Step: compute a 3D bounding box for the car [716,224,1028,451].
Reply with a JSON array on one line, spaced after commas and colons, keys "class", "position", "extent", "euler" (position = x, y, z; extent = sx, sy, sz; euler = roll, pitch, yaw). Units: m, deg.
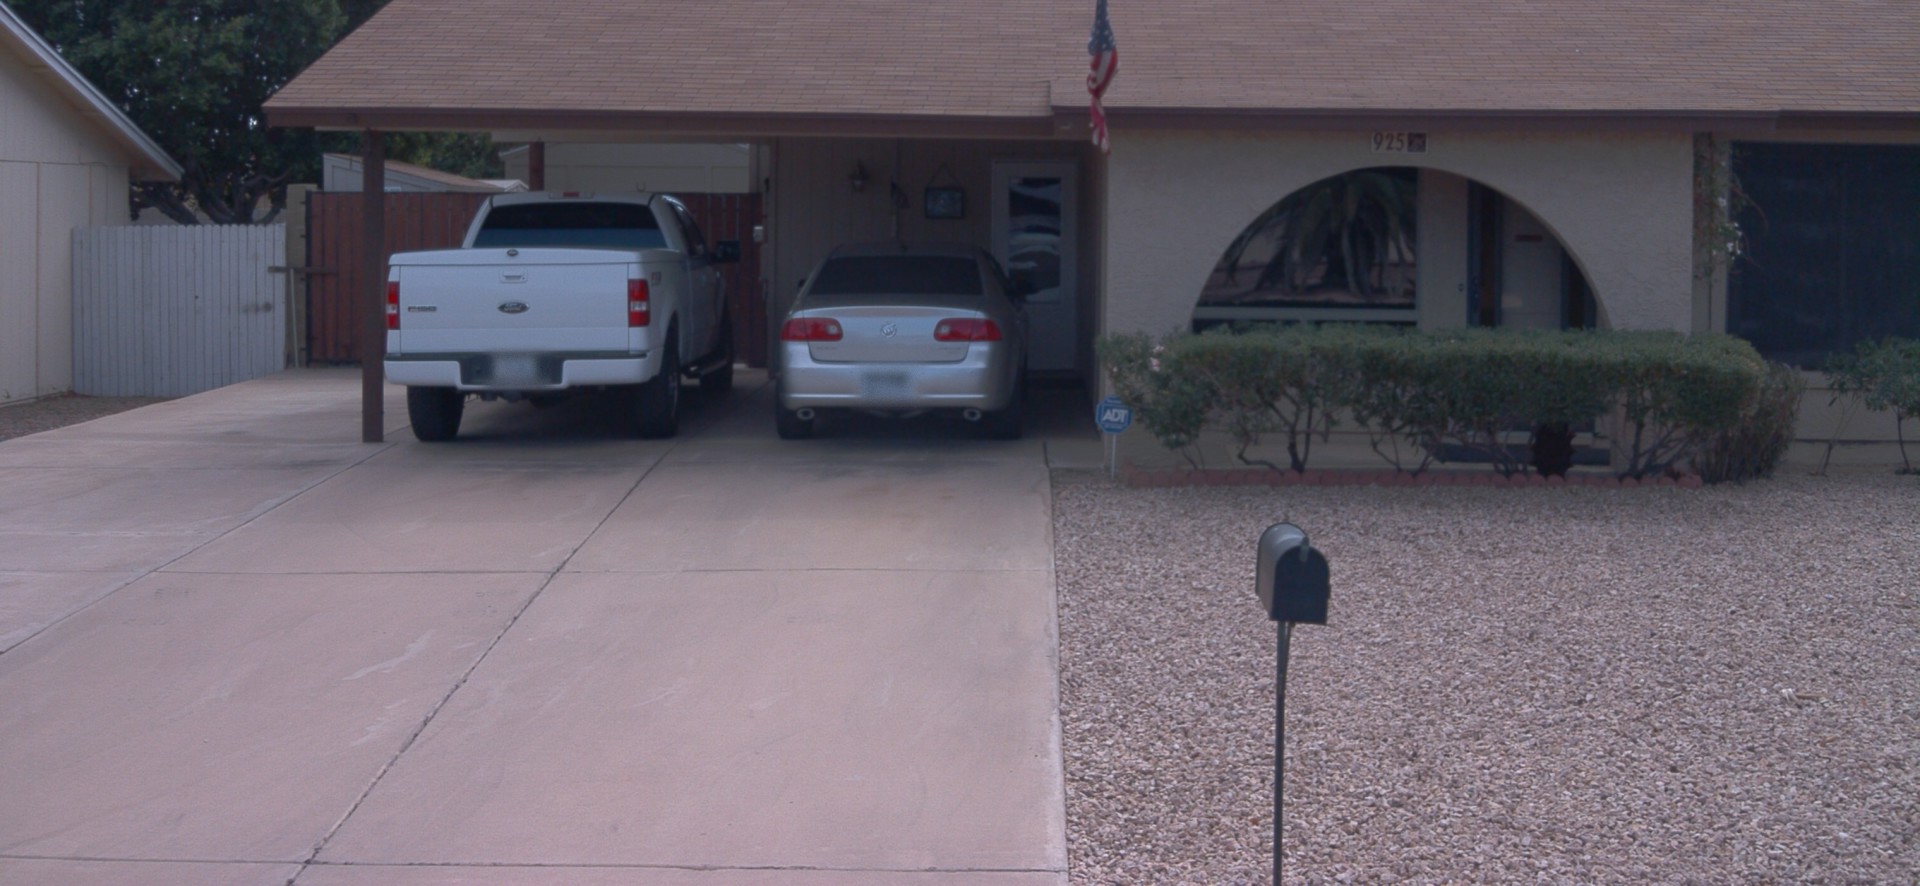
[{"class": "car", "position": [-0.535, -0.990, 16.838], "extent": [2.140, 1.543, 5.172], "euler": [0, 5, 1]}]

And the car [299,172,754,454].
[{"class": "car", "position": [-3.277, -1.193, 17.221], "extent": [2.502, 1.932, 5.808], "euler": [0, 5, 0]}]
